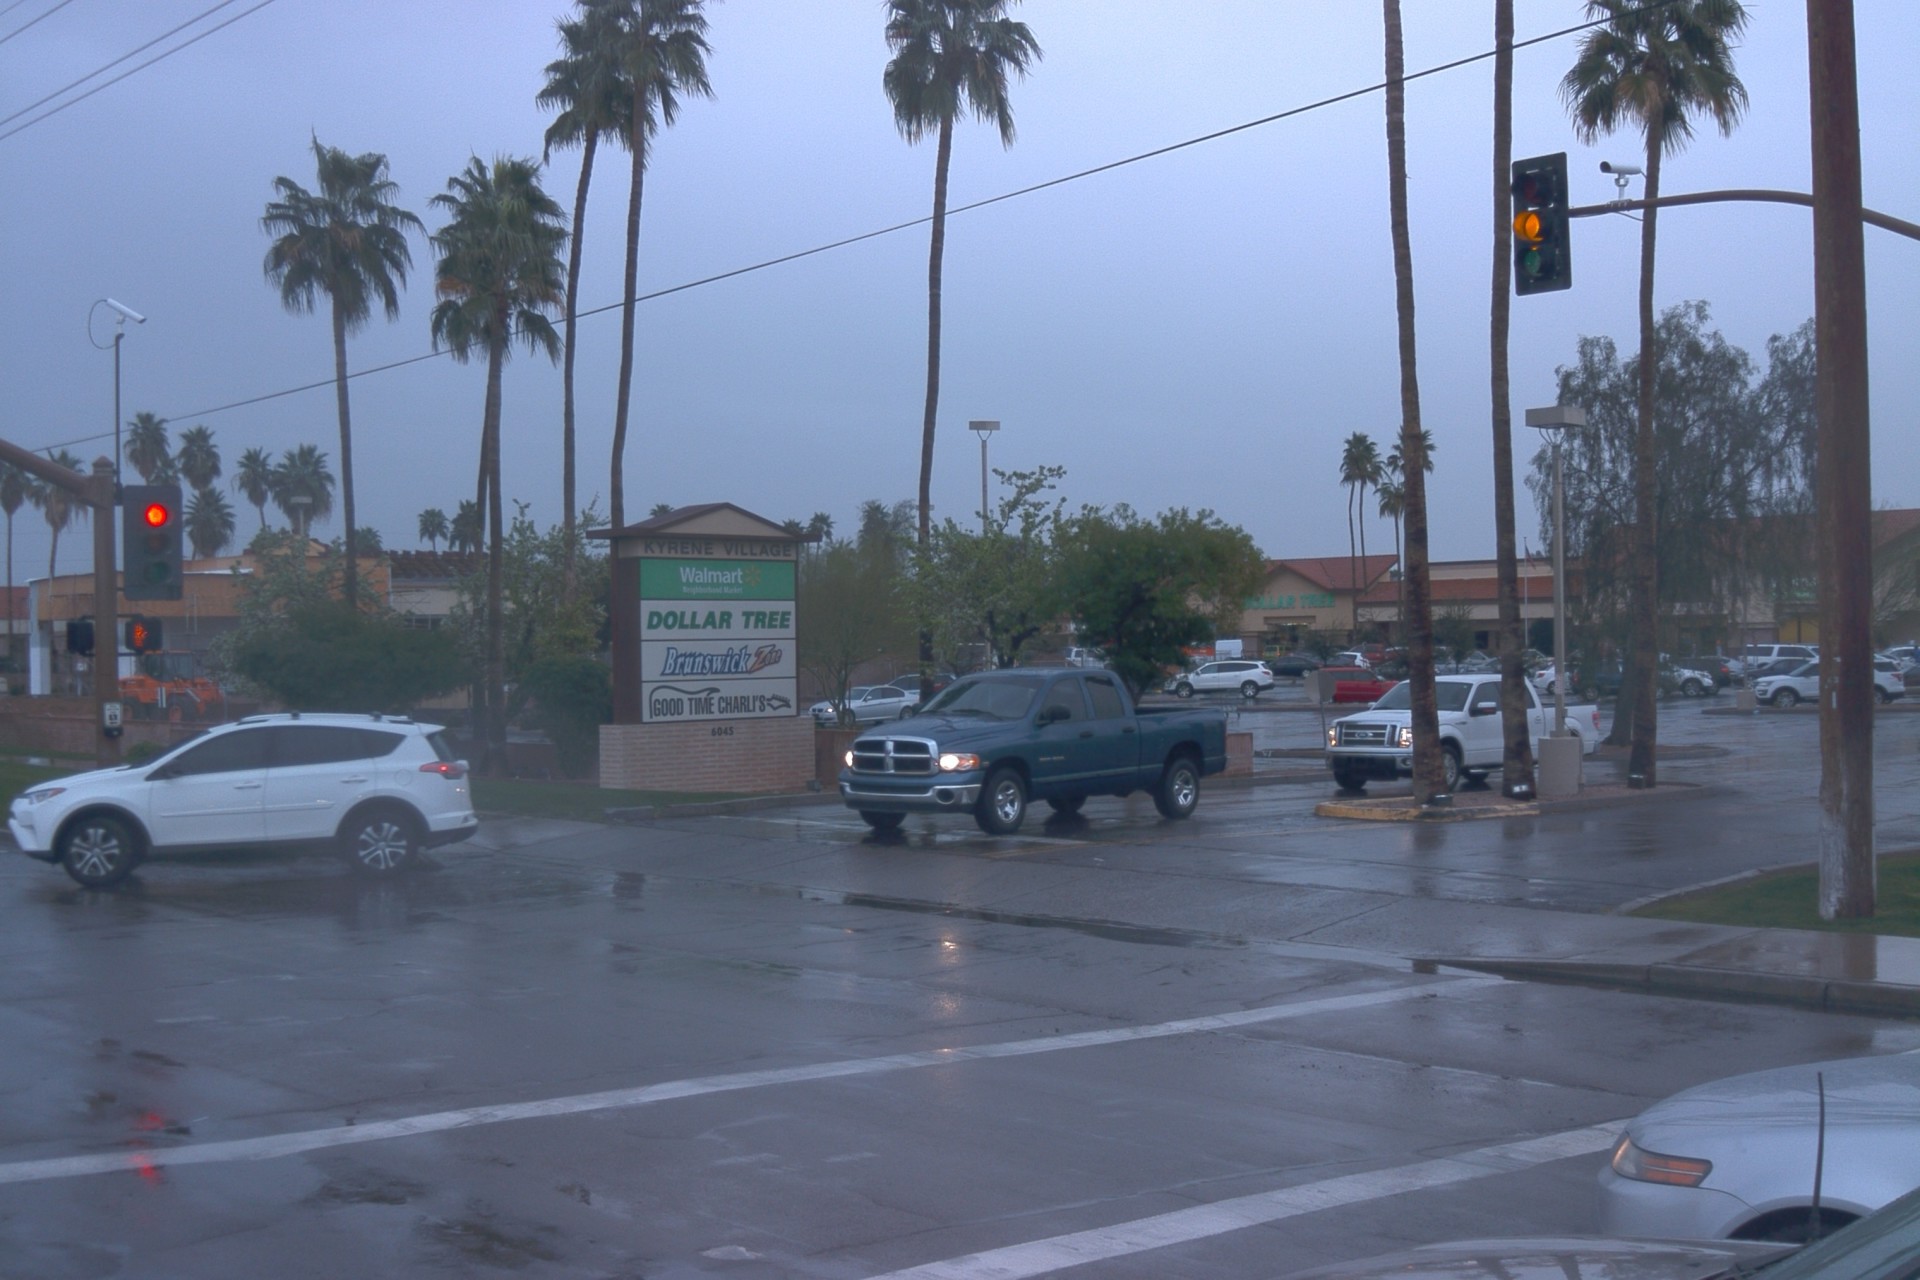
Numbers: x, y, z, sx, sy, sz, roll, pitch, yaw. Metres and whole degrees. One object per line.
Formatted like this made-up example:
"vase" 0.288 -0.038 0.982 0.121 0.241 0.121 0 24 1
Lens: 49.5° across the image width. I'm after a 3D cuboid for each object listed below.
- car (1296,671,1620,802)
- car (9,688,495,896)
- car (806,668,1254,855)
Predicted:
"car" 8.432 1.524 34.922 5.840 1.980 2.534 1 -1 -44
"car" -7.228 1.488 21.493 4.529 1.940 2.032 0 0 -19
"car" 1.007 1.353 25.456 2.433 2.000 5.767 0 -1 40
